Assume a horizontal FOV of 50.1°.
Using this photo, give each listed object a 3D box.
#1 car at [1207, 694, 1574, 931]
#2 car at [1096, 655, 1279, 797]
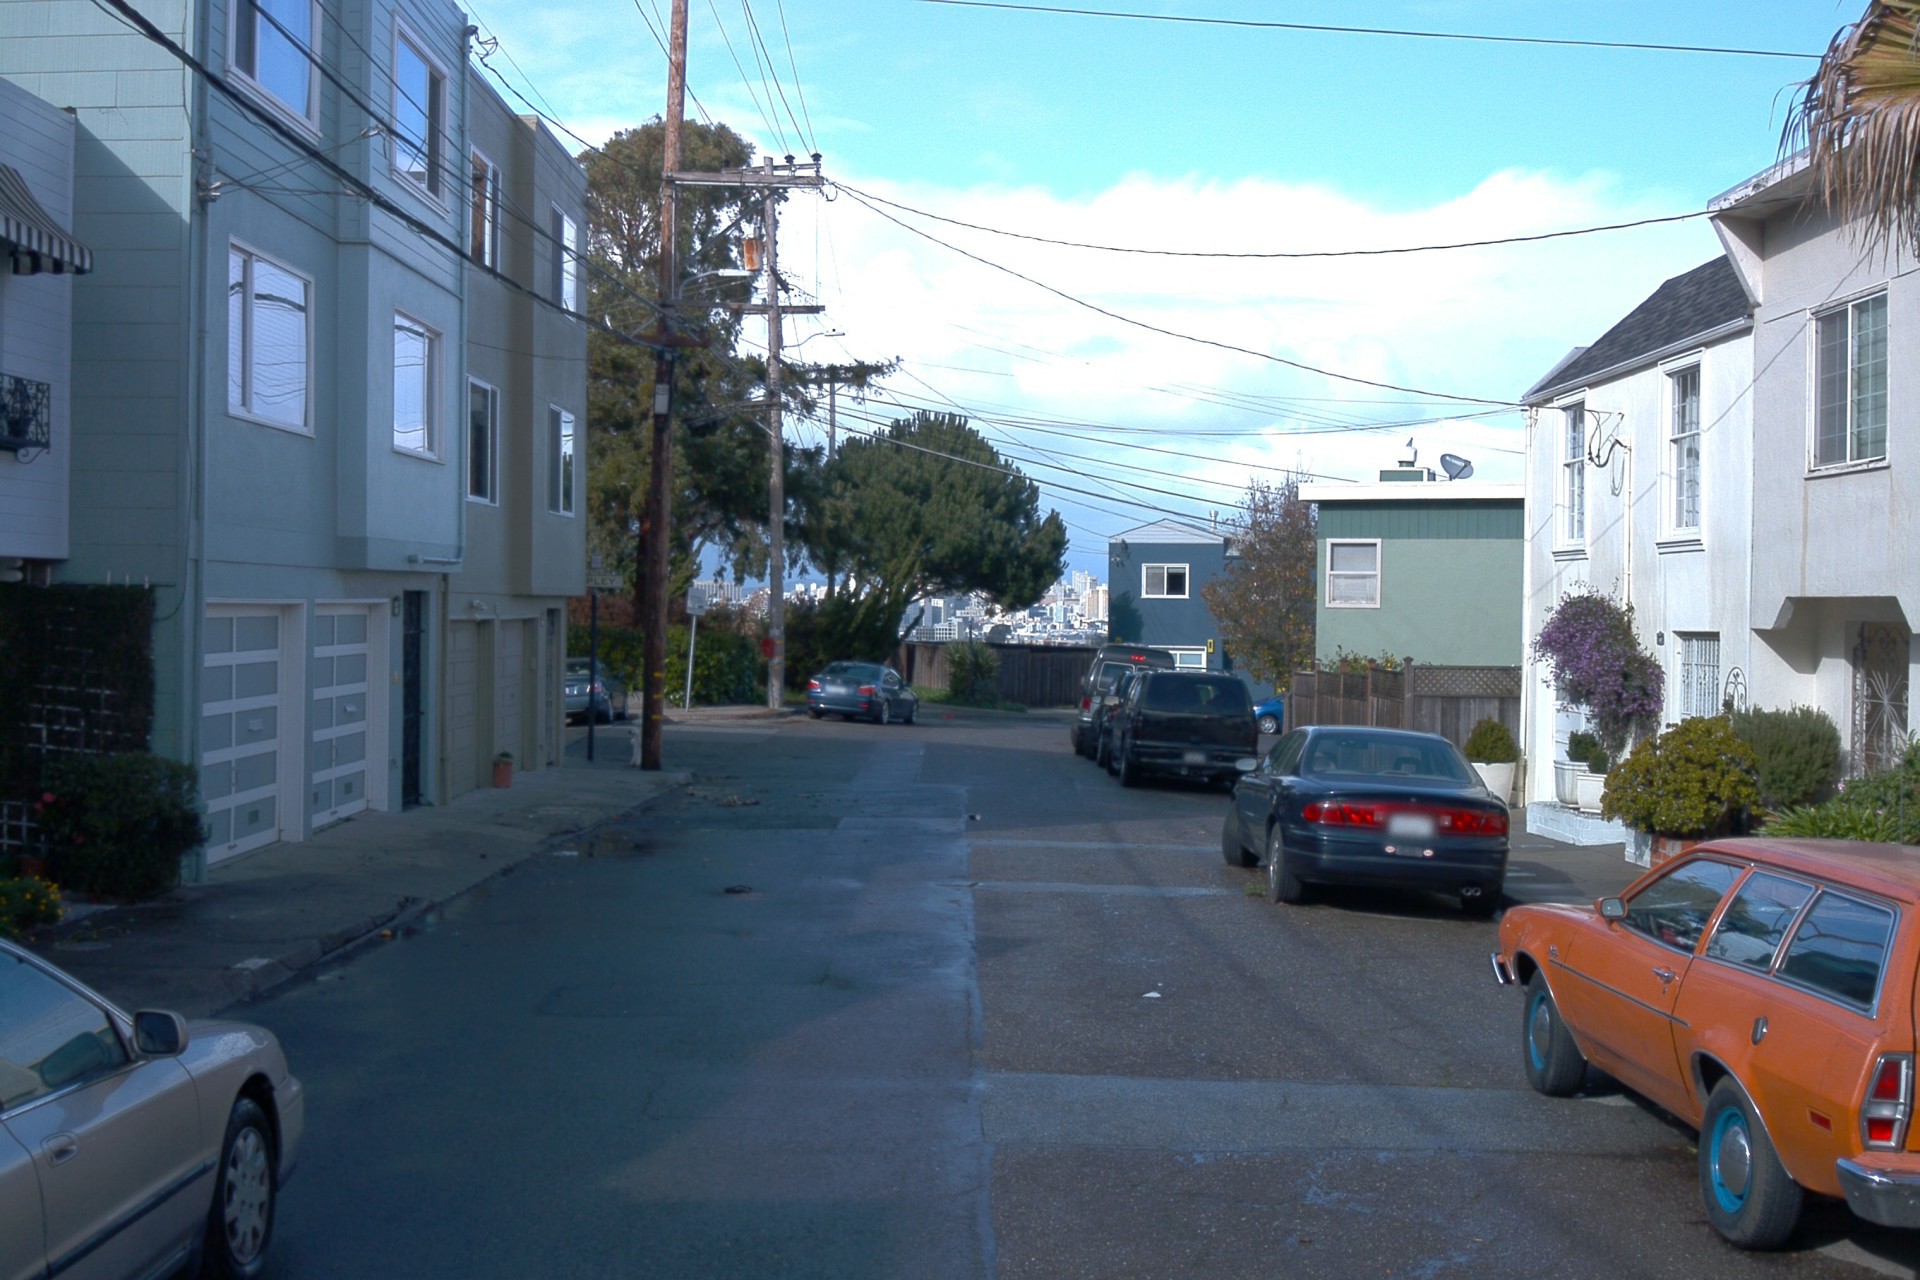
[{"bbox_3d":[3.494,1.350,17.743,2.124,1.510,4.928,1,1,0],"label":"car"},{"bbox_3d":[3.440,1.260,32.154,2.280,1.880,5.115,1,1,0],"label":"car"}]
